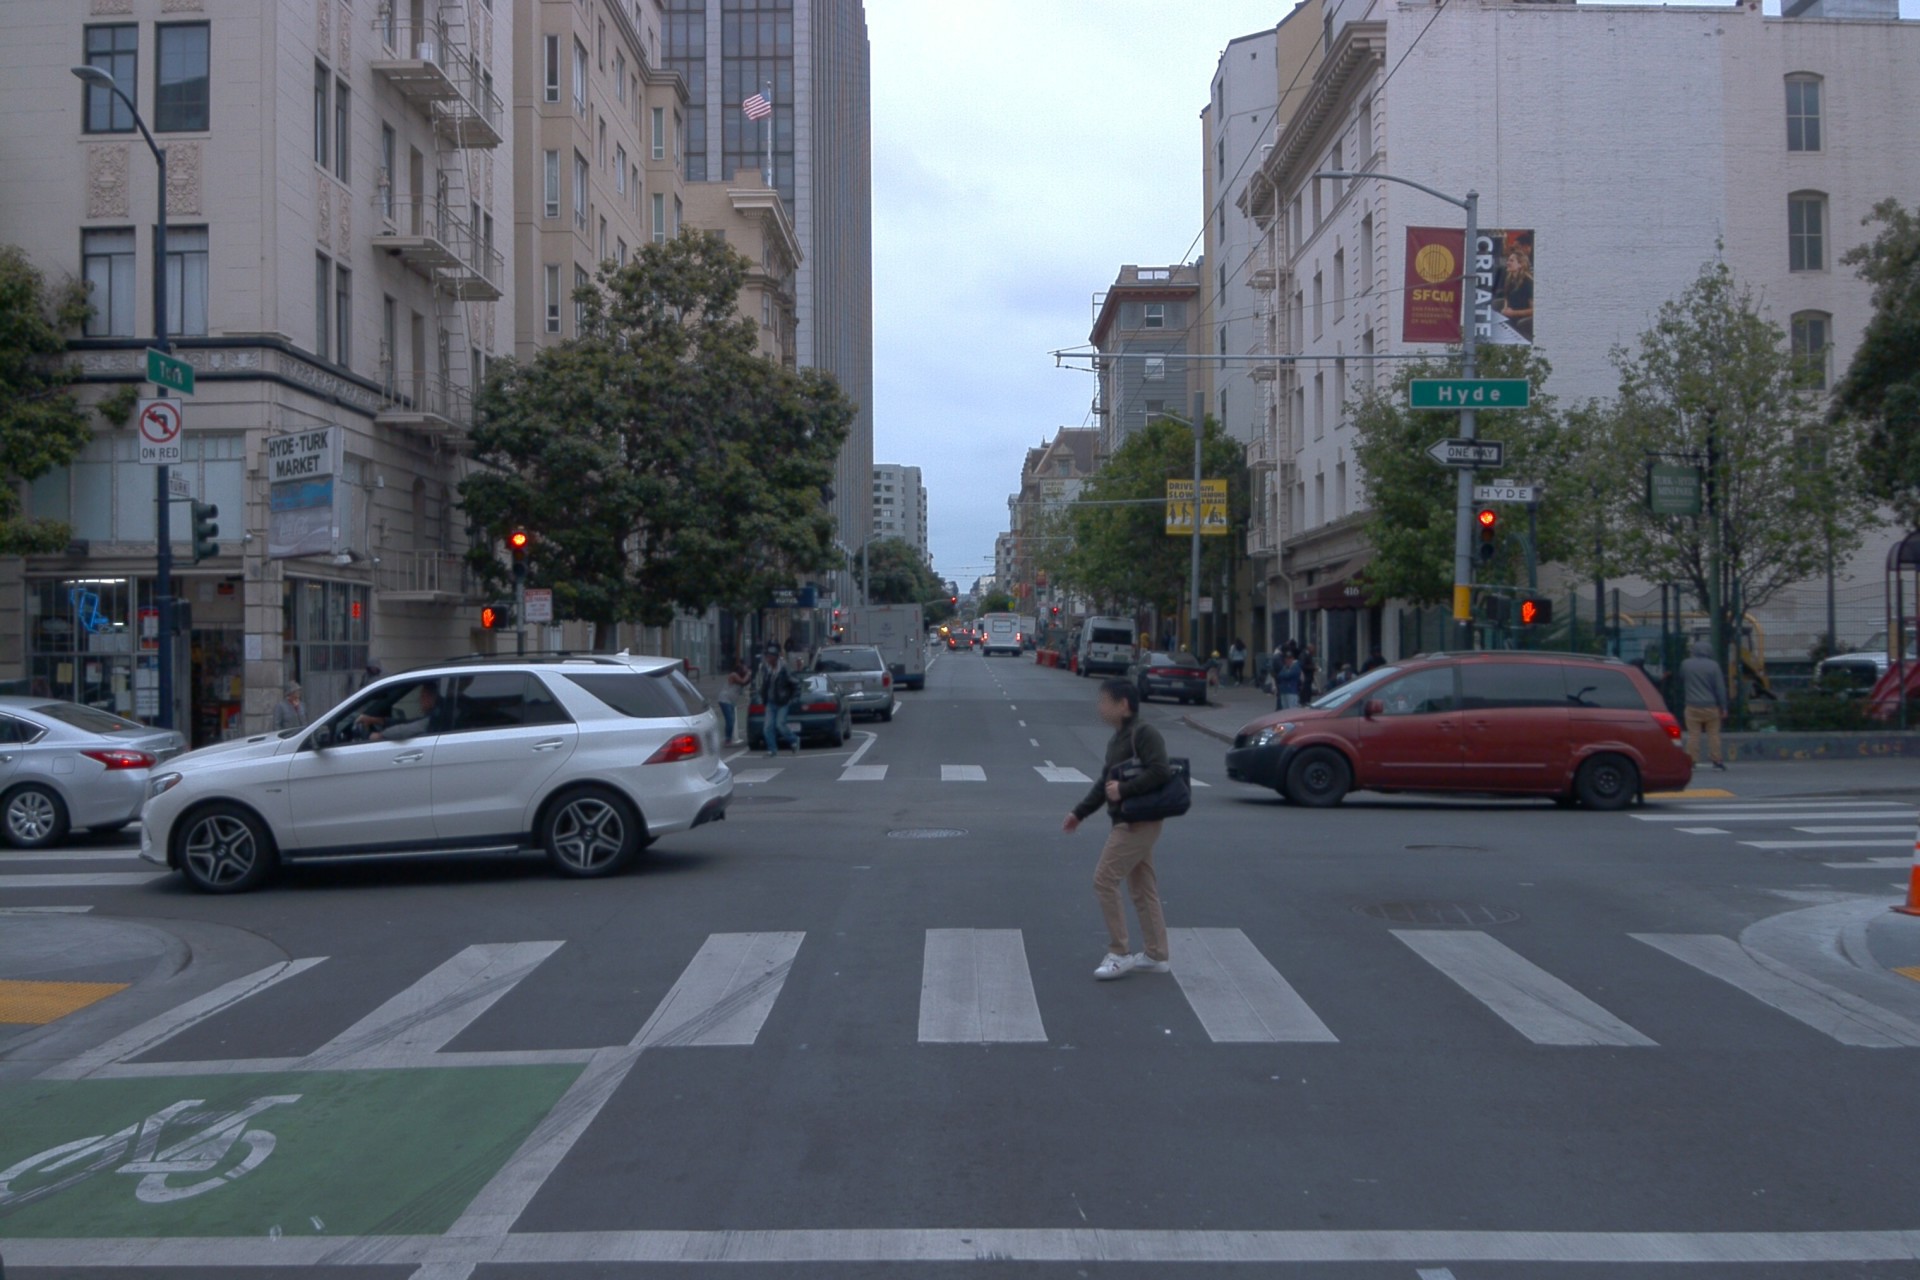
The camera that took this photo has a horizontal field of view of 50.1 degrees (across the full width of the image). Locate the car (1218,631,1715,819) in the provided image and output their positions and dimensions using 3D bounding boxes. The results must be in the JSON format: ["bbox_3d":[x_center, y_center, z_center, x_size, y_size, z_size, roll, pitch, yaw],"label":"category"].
[{"bbox_3d":[5.559,0.912,23.130,5.081,1.980,2.080,0,1,2],"label":"car"}]

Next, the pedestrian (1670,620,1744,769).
[{"bbox_3d":[10.273,0.739,28.310,0.834,2.010,0.797,0,1,11],"label":"pedestrian"}]

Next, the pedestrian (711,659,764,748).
[{"bbox_3d":[-4.061,1.156,37.513,0.695,1.580,0.680,-1,1,-37],"label":"pedestrian"}]

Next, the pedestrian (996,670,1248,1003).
[{"bbox_3d":[0.876,1.048,11.399,1.319,1.720,1.107,0,1,3],"label":"pedestrian"}]

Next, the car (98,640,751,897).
[{"bbox_3d":[-4.249,0.996,16.966,4.808,1.930,2.169,0,1,1],"label":"car"}]

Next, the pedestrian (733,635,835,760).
[{"bbox_3d":[-2.887,0.917,33.830,1.262,1.990,1.093,0,1,30],"label":"pedestrian"}]

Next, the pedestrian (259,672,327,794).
[{"bbox_3d":[-9.203,1.266,28.370,0.867,1.620,0.826,-1,1,-18],"label":"pedestrian"}]

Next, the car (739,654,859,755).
[{"bbox_3d":[-2.863,1.127,37.330,1.721,1.630,3.892,0,1,2],"label":"car"}]
